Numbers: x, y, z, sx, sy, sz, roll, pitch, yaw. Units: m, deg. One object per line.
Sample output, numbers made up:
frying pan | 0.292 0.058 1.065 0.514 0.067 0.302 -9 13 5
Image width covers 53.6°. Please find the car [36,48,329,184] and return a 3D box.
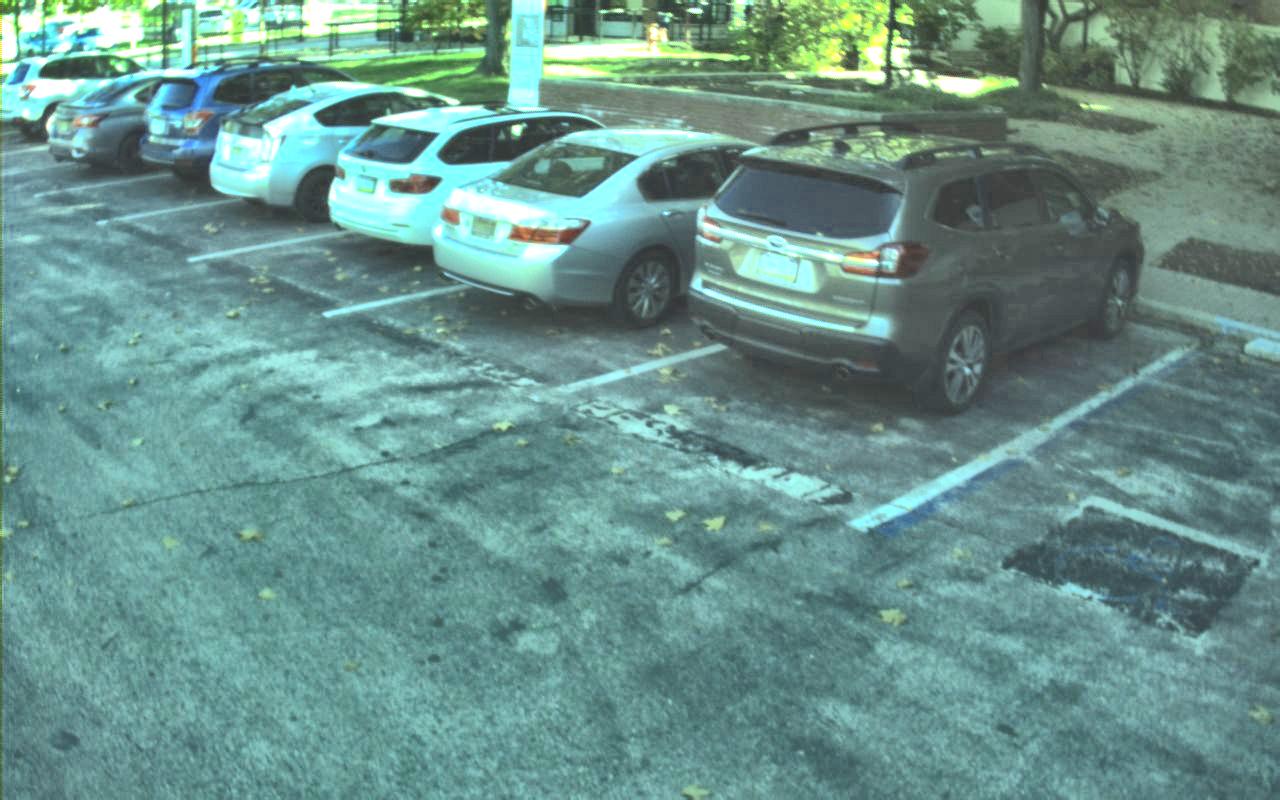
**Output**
car | -7.203 -4.478 18.248 1.940 1.586 4.438 14 23 42

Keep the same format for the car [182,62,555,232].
car | -3.277 -3.204 14.905 1.893 1.581 4.326 14 22 42

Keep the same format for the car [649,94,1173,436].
car | 2.437 -1.362 9.521 2.030 1.778 4.776 13 22 41

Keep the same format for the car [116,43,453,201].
car | -4.960 -3.945 16.662 4.448 1.687 1.956 -17 22 -42

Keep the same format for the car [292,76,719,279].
car | -1.306 -2.518 13.157 1.911 1.588 4.376 14 22 41

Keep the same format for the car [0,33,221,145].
car | -10.799 -6.213 22.718 1.967 1.687 4.561 14 23 43

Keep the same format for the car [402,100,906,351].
car | 0.306 -1.755 11.103 4.443 1.535 1.916 -16 22 -42
